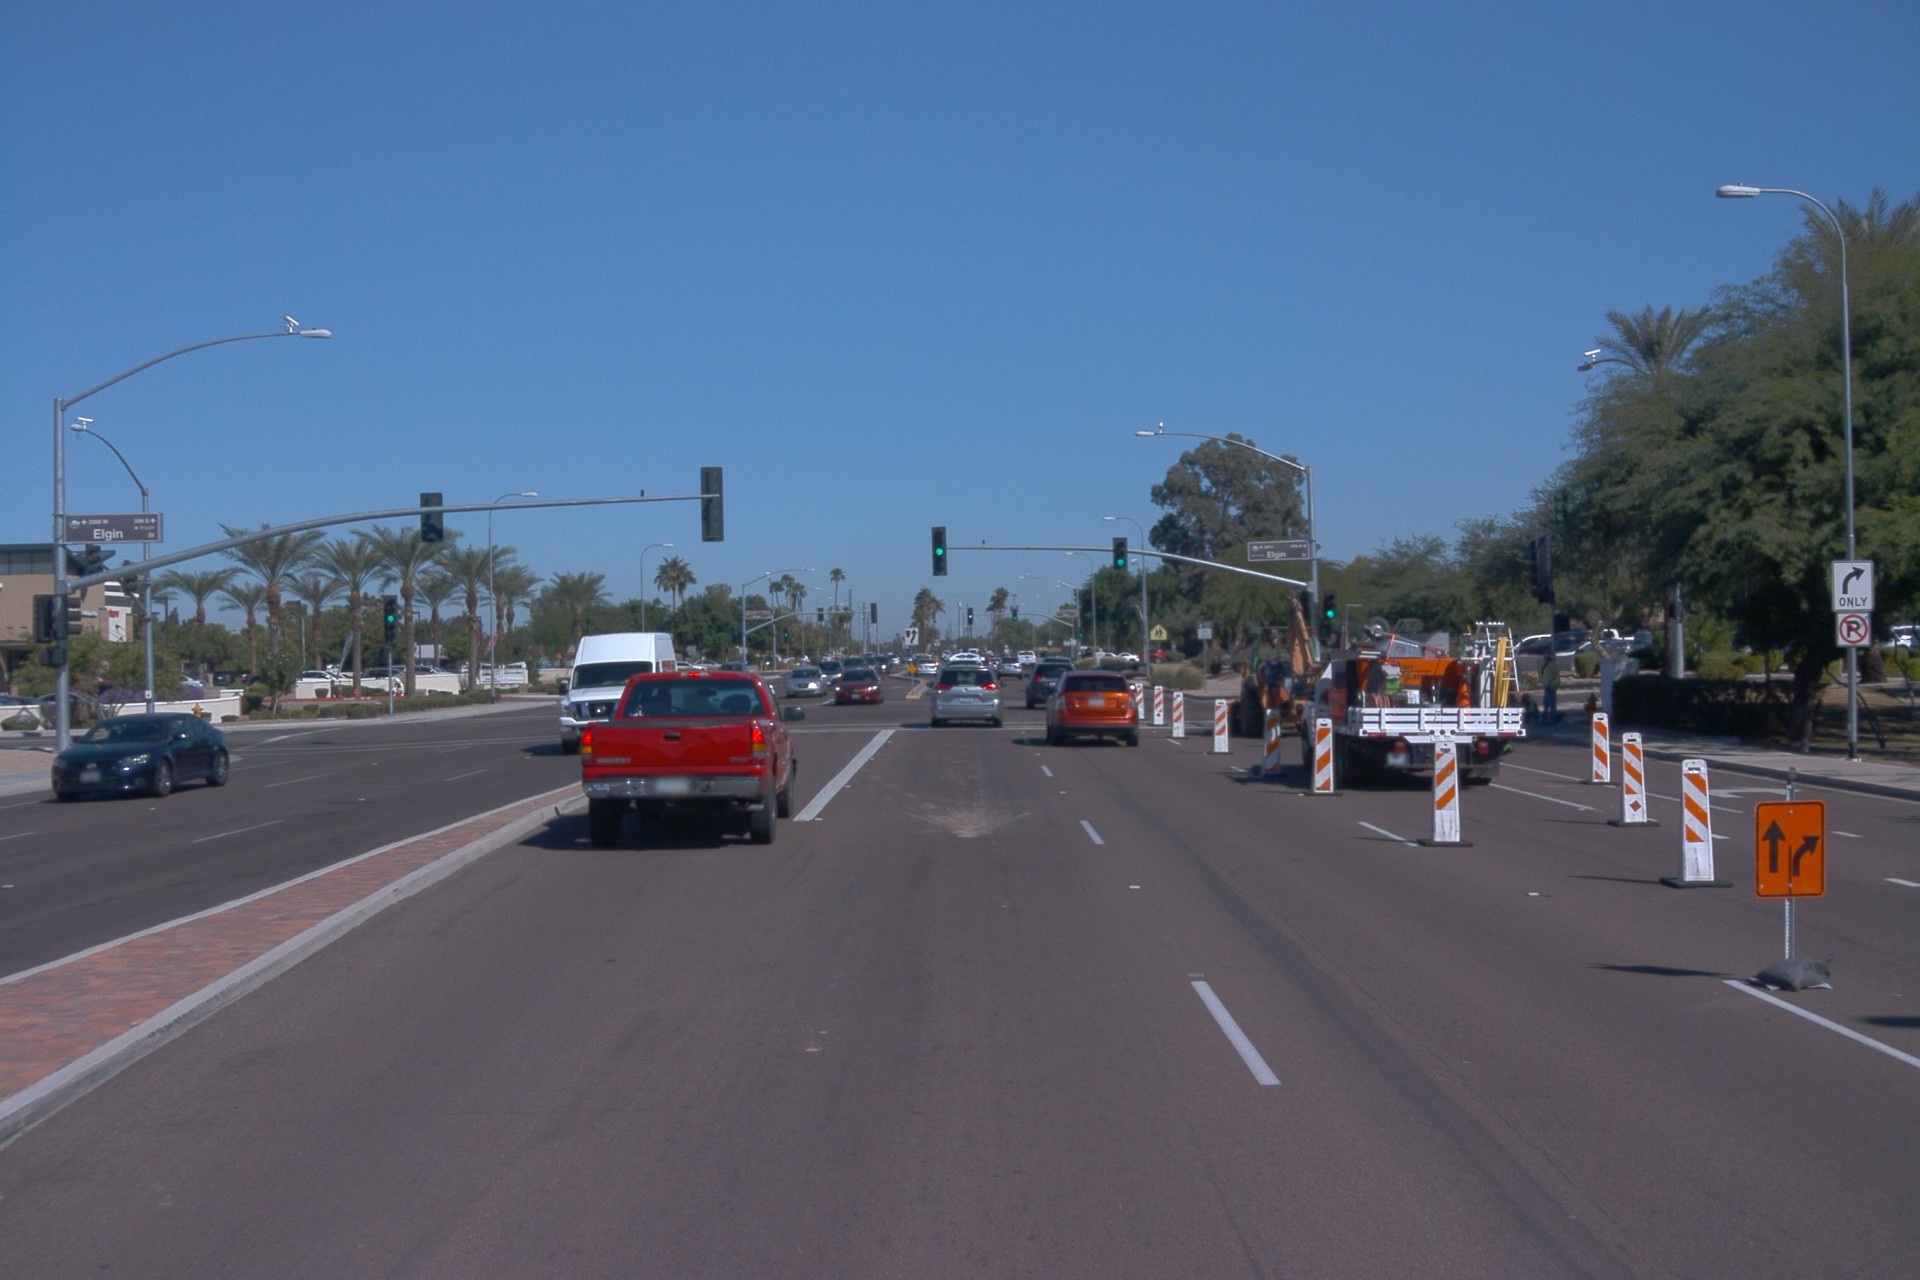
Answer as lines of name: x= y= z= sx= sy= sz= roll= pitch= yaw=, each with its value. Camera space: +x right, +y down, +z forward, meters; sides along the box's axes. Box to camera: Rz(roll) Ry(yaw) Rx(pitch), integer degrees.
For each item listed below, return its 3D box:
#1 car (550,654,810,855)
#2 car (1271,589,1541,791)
car: x=-3.039 y=1.178 z=23.845 sx=2.340 sy=2.010 sz=5.847 roll=0 pitch=0 yaw=-1
car: x=7.069 y=0.735 z=33.996 sx=2.902 sy=2.920 sz=7.858 roll=0 pitch=0 yaw=1
